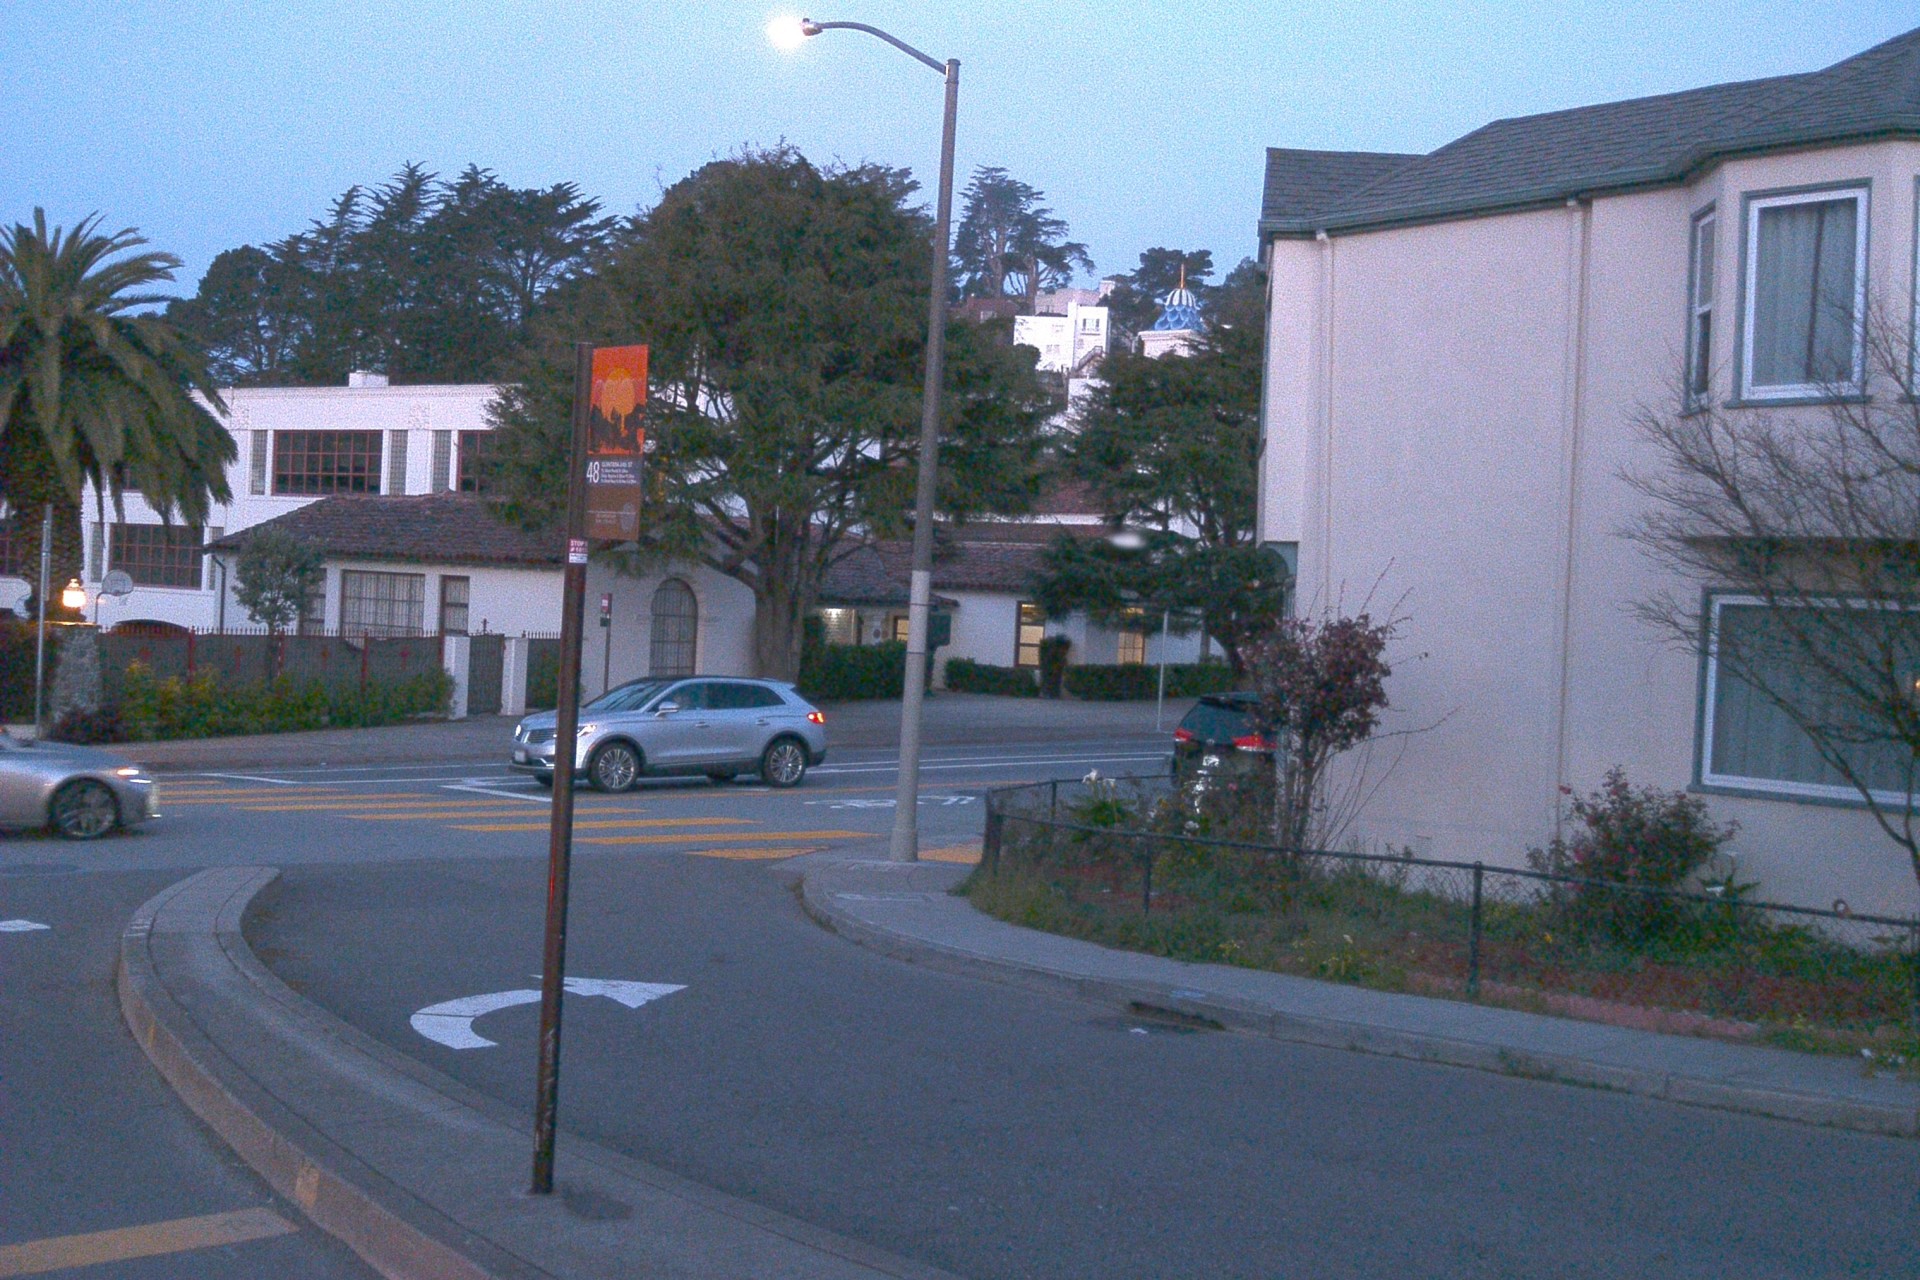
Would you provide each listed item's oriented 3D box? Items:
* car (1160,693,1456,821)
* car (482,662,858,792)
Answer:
[{"bbox_3d":[5.027,1.629,30.201,3.819,1.660,2.058,1,0,-34],"label":"car"},{"bbox_3d":[-4.179,1.204,30.665,5.027,1.730,2.150,1,0,-39],"label":"car"}]
